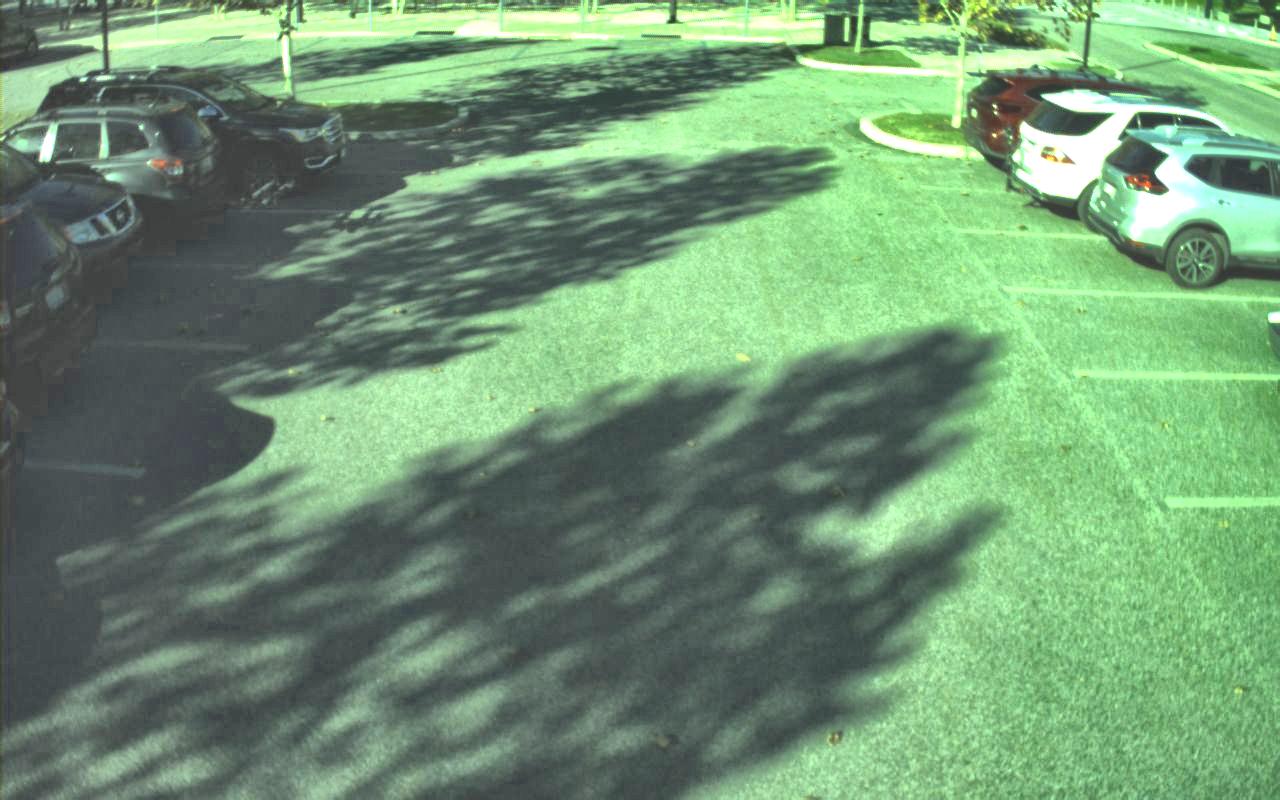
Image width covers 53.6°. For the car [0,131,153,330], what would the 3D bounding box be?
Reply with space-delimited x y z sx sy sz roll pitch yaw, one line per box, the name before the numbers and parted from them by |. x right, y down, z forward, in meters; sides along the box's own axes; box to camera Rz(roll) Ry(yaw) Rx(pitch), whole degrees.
car | -7.404 -1.749 11.468 4.365 1.599 1.963 2 17 11

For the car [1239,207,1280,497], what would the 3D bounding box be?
car | 7.546 -0.442 8.813 4.604 1.864 2.047 0 16 3

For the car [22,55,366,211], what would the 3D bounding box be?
car | -6.433 -3.803 16.727 4.715 1.761 2.055 1 16 6

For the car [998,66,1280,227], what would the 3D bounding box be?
car | 7.329 -3.509 16.028 4.545 1.873 2.021 -1 16 -1

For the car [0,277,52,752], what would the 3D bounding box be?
car | -6.276 0.350 6.616 4.409 1.606 1.967 -2 16 -4

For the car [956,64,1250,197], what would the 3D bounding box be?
car | 7.378 -4.290 18.688 4.515 1.779 1.998 -1 16 0

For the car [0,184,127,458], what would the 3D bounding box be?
car | -6.746 -0.719 9.137 4.430 1.706 1.986 2 16 9

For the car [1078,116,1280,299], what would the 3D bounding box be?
car | 7.584 -2.301 13.561 4.458 1.783 1.979 0 16 3

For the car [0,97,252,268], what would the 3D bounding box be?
car | -7.131 -2.627 13.966 4.453 1.678 1.990 3 17 12
